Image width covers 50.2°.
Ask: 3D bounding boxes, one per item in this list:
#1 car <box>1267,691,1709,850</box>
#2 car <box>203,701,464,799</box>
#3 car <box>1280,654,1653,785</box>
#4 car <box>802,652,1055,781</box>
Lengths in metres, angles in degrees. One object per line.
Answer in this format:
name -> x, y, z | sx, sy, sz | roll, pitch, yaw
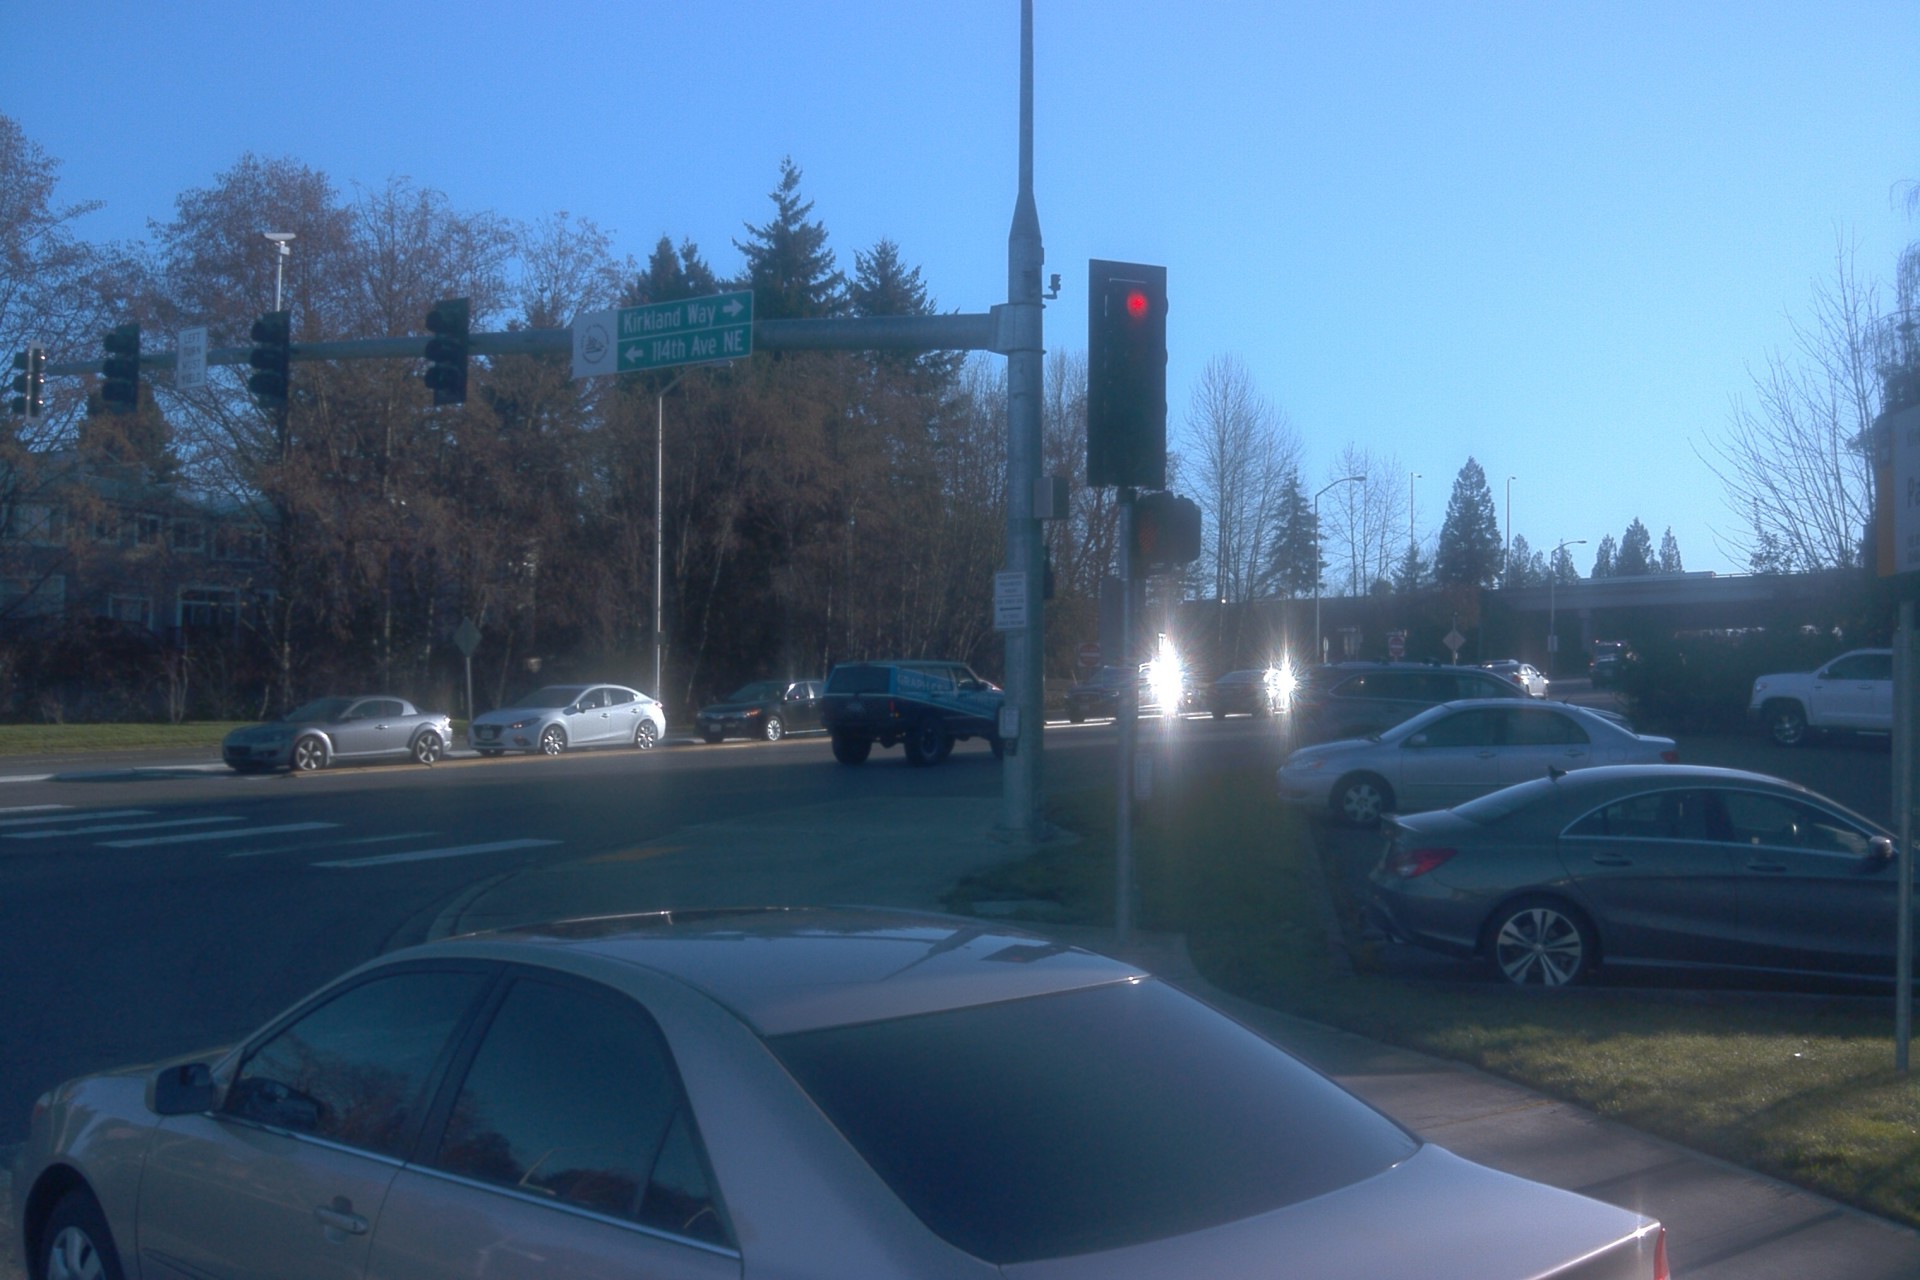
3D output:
car -> 5.908, 1.443, 23.459 | 4.657, 1.620, 2.051 | 0, 0, 7
car -> -11.043, 1.897, 36.348 | 1.817, 1.450, 4.298 | 1, 1, 32
car -> 7.007, 1.079, 28.821 | 4.869, 1.700, 2.043 | 0, 0, 7
car -> -0.478, 1.271, 36.152 | 2.045, 2.070, 4.718 | 1, 1, 36
